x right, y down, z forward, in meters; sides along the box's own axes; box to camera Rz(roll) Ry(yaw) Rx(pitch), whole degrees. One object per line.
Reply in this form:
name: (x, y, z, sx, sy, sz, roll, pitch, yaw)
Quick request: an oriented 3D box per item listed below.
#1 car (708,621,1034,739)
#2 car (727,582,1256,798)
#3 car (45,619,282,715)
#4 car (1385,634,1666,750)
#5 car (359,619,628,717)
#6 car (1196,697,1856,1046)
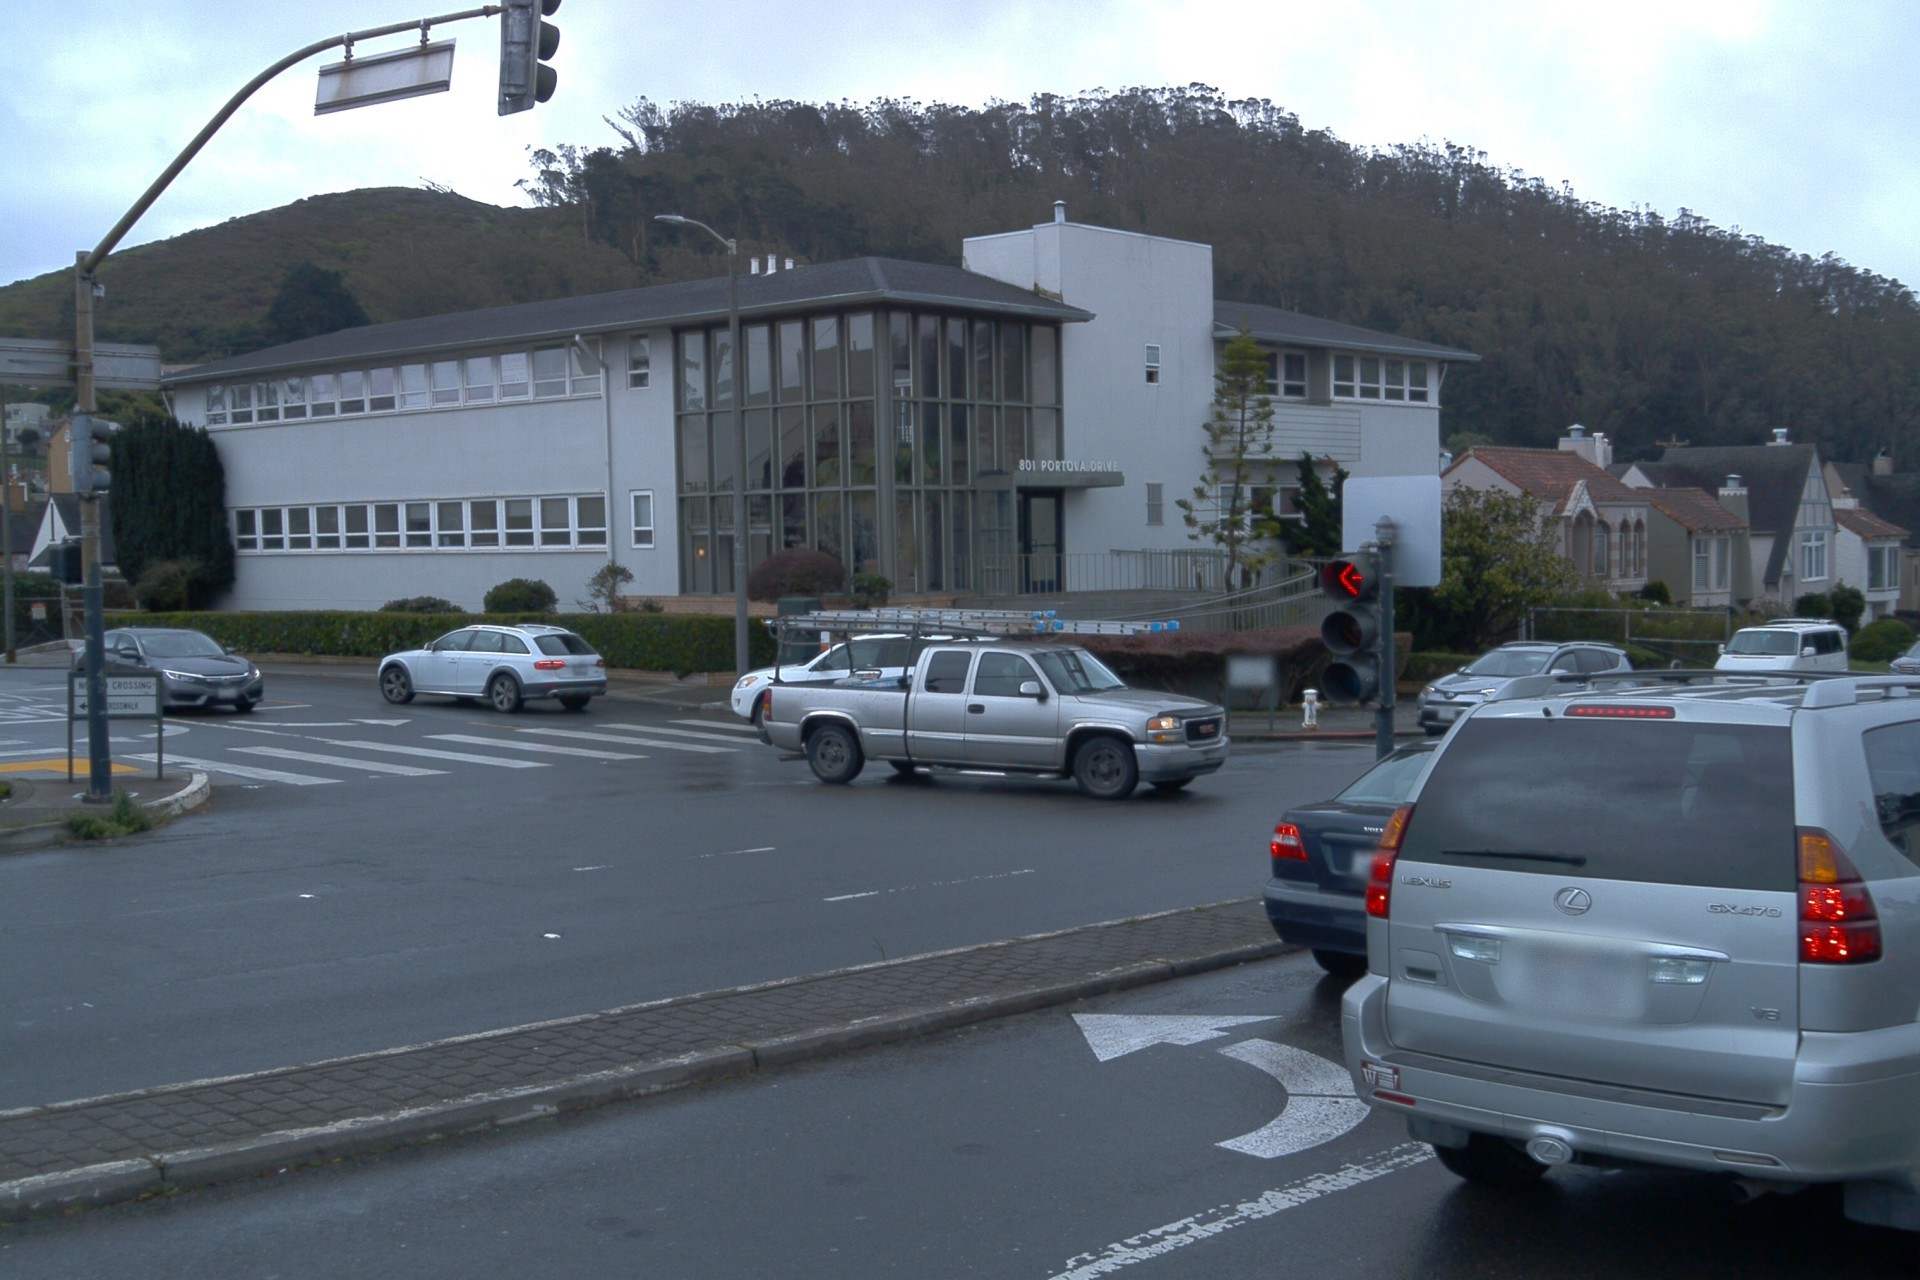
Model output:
car: (-1.347, 0.581, 31.970, 4.737, 1.740, 2.053, 0, 1, 10)
car: (0.320, 0.501, 24.844, 5.960, 2.350, 2.438, 1, 1, 30)
car: (-13.748, 0.407, 35.273, 4.721, 1.520, 1.975, 1, 1, 44)
car: (9.312, 0.782, 33.615, 4.665, 1.740, 2.196, 0, 1, -41)
car: (-8.337, 0.447, 36.519, 4.648, 1.610, 2.070, 1, 1, 34)
car: (3.470, 1.171, 12.054, 1.961, 1.500, 4.296, 1, 1, 43)
